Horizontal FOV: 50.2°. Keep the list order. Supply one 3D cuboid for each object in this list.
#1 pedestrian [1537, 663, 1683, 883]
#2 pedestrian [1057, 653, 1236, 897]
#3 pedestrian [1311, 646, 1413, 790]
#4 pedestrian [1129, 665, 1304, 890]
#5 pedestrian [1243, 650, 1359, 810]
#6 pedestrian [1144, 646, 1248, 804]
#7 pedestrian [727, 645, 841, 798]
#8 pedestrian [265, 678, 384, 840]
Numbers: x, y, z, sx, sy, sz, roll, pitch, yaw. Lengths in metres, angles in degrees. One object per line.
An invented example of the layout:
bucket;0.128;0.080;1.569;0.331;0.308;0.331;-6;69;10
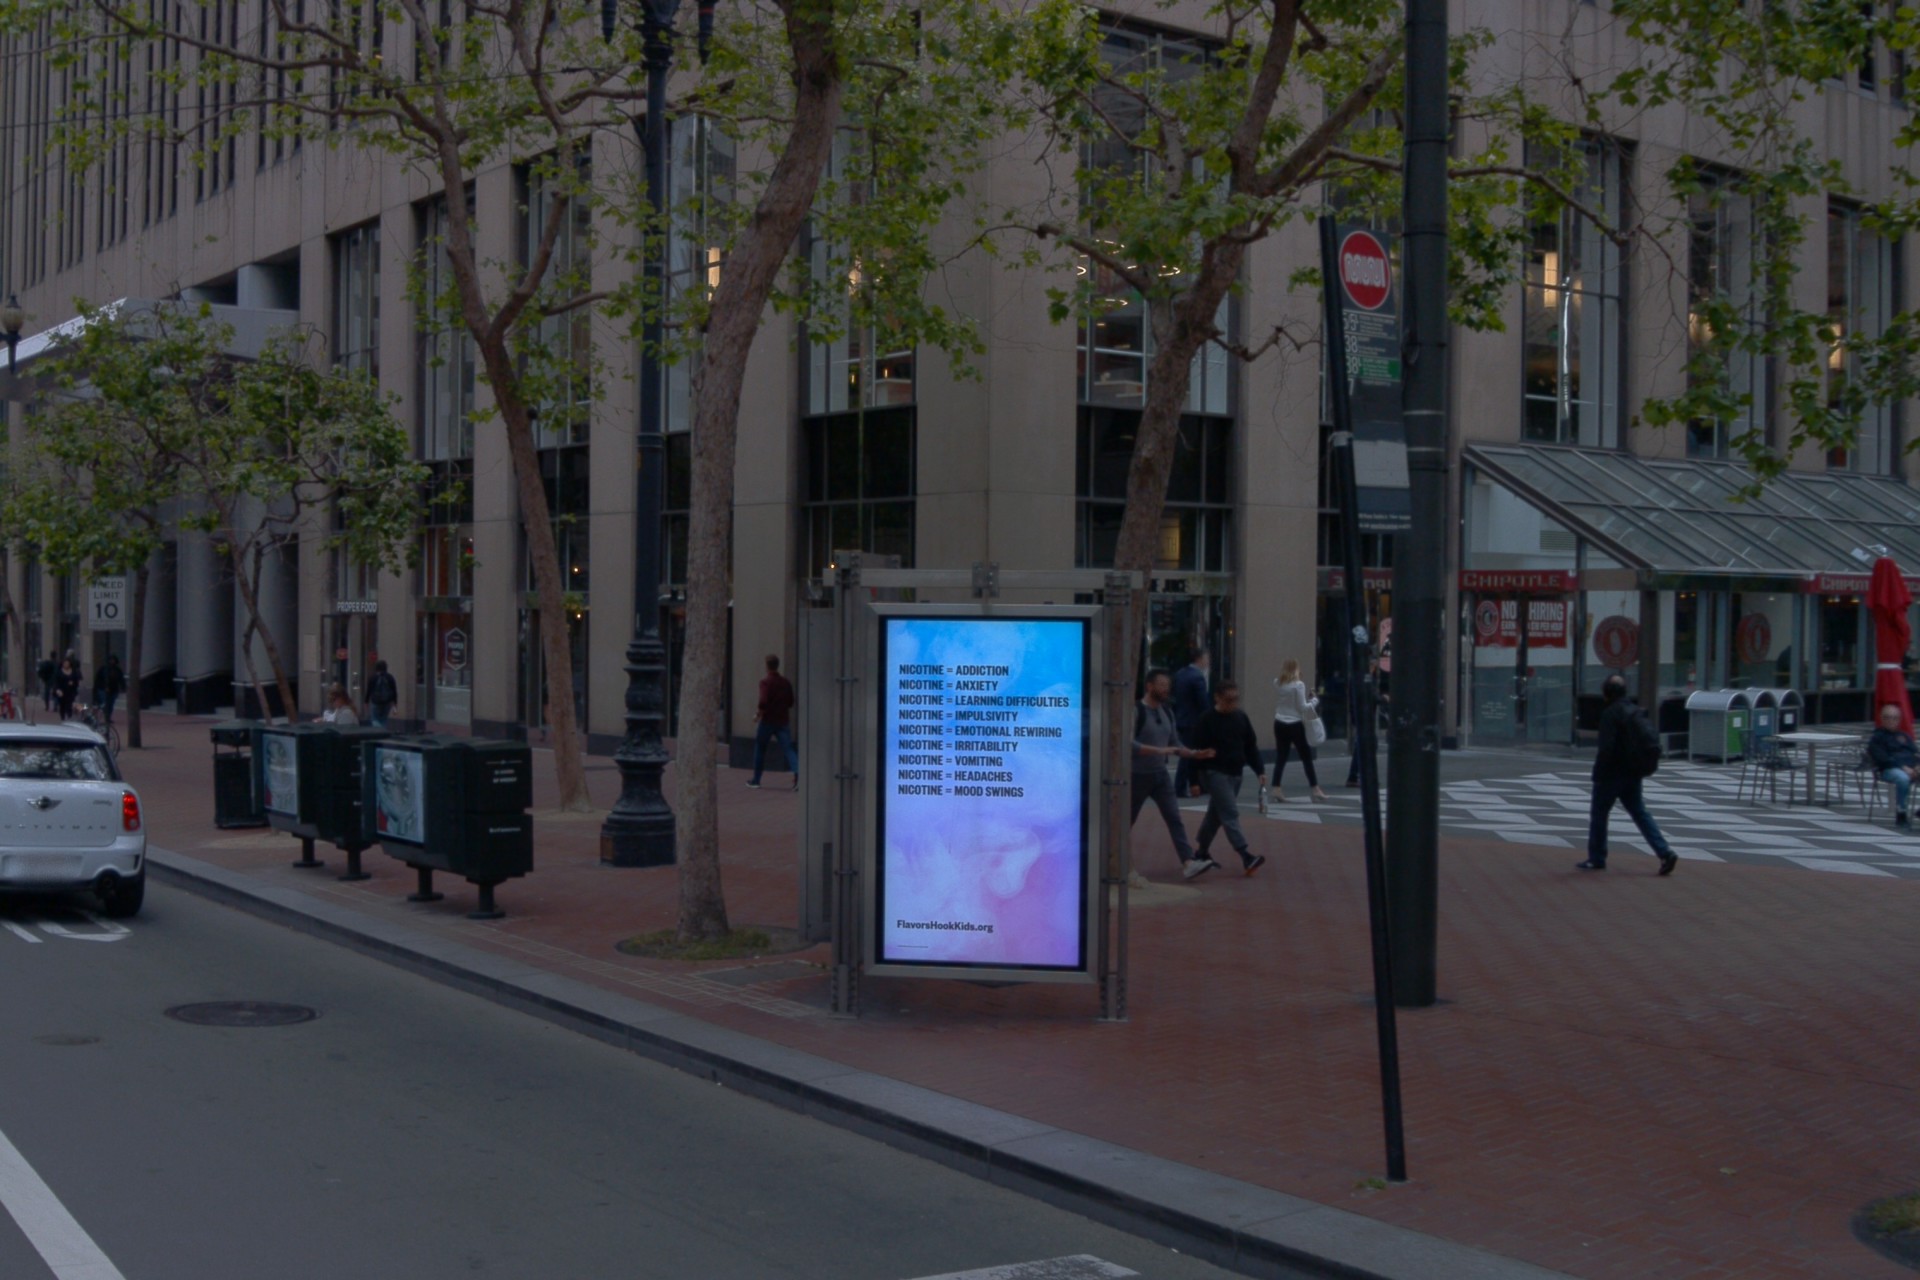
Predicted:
pedestrian;5.412;1.075;17.070;0.750;1.760;0.897;0;0;-40
pedestrian;1.548;1.078;17.057;1.025;1.930;1.073;0;0;-39
pedestrian;5.025;0.958;25.681;0.999;1.770;1.001;0;0;-6
pedestrian;2.195;1.139;17.556;0.943;1.830;1.156;0;0;-38
pedestrian;3.957;1.019;23.781;0.980;1.800;0.891;0;0;-35
pedestrian;2.815;0.992;24.457;0.794;1.840;0.941;0;0;-37
pedestrian;-2.280;1.018;26.457;0.945;1.910;1.272;0;0;-35
pedestrian;-6.953;1.278;22.427;0.909;1.700;0.912;0;0;43
